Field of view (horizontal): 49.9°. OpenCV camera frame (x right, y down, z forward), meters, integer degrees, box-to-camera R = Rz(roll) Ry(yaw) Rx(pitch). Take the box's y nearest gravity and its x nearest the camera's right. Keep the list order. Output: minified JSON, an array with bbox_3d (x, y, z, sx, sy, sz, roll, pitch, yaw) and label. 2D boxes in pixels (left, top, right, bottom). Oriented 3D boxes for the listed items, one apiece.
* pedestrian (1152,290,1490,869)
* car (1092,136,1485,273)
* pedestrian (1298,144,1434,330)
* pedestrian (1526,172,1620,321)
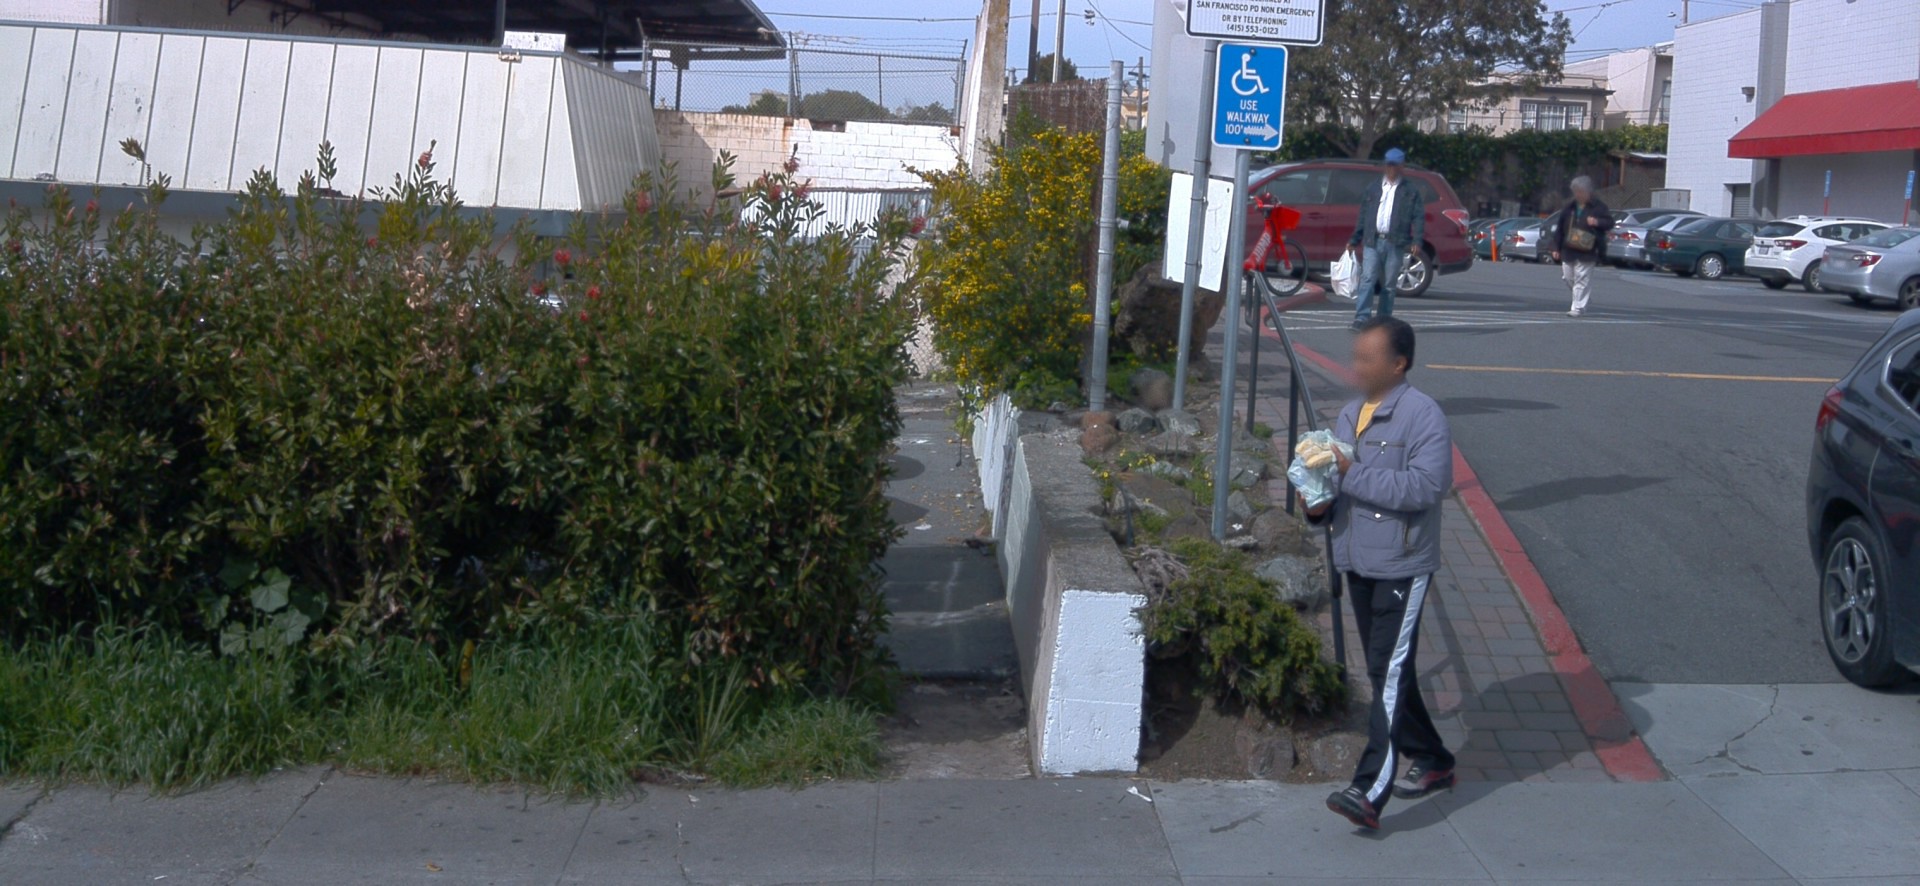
[{"bbox_3d":[1.253,0.370,7.014,0.943,1.743,1.078,0,2,21],"label":"pedestrian"},{"bbox_3d":[4.241,-3.126,27.214,4.792,1.717,2.140,0,3,-3],"label":"car"},{"bbox_3d":[3.790,-1.920,19.255,1.009,1.670,0.952,1,2,28],"label":"pedestrian"},{"bbox_3d":[7.106,-2.282,23.907,0.869,1.685,0.833,1,1,30],"label":"pedestrian"}]
